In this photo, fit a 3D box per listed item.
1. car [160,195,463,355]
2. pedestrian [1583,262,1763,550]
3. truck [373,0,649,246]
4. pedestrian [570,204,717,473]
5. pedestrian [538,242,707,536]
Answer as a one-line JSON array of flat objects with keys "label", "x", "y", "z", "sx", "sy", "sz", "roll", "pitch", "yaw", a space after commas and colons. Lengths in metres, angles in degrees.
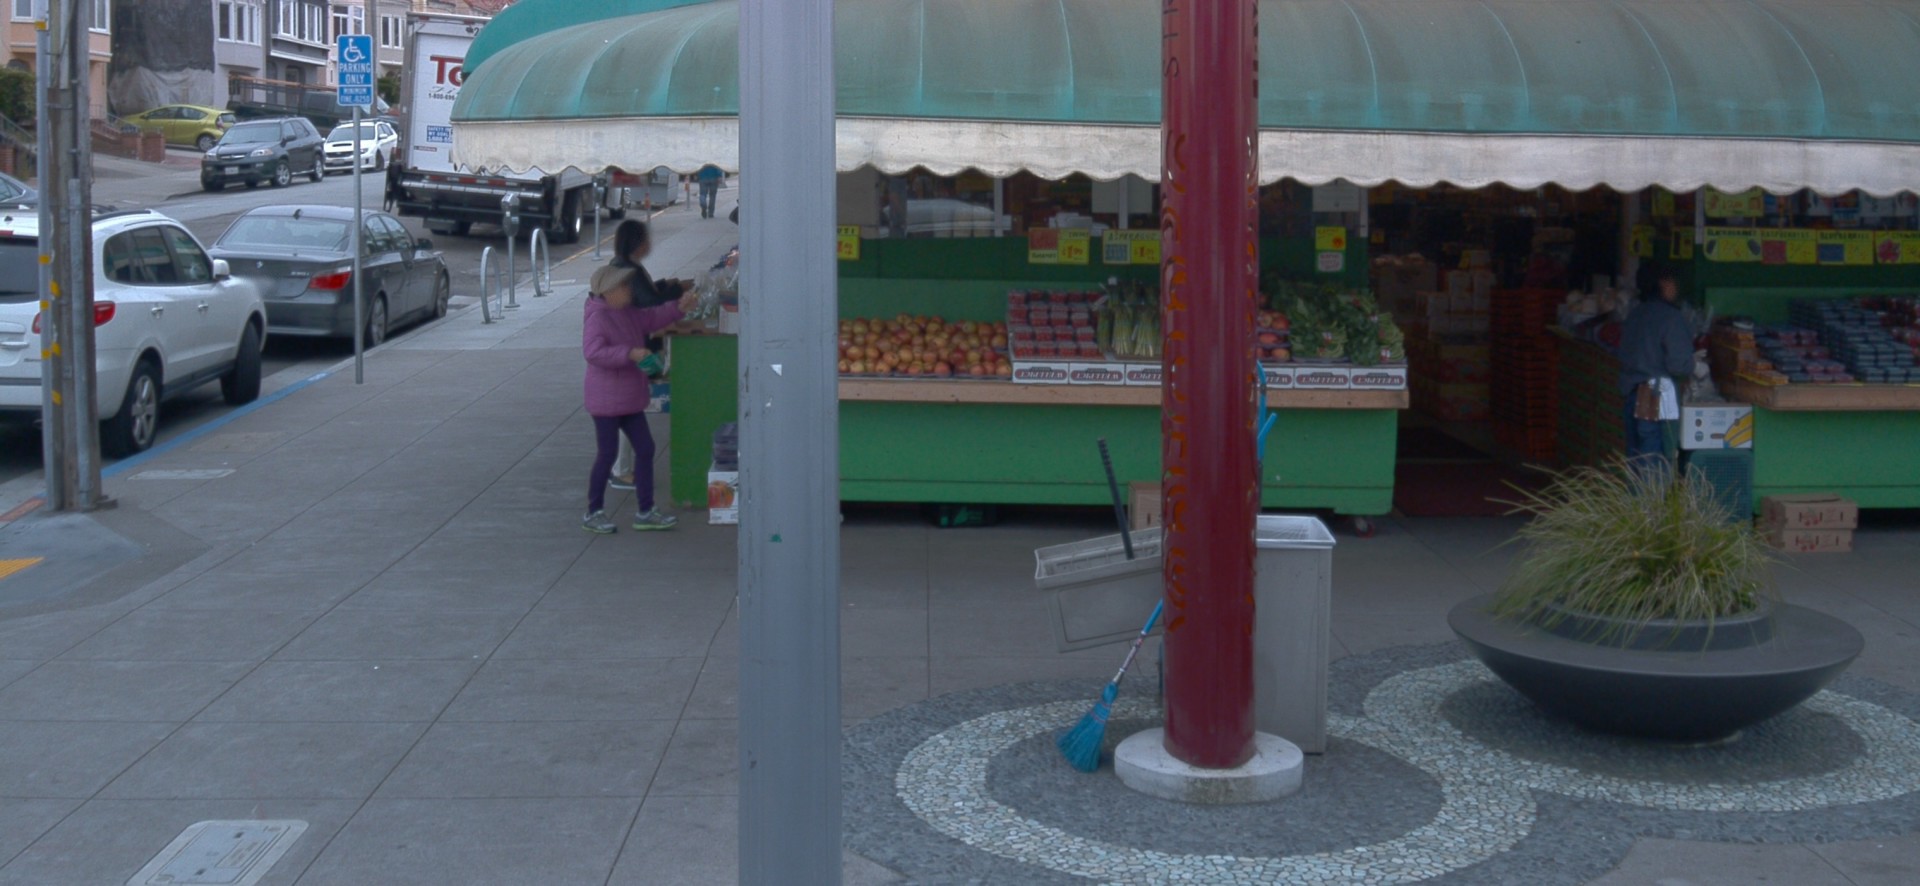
[{"label": "car", "x": -6.731, "y": -1.849, "z": 21.913, "sx": 1.969, "sy": 1.513, "sz": 4.609, "roll": 0, "pitch": 6, "yaw": -3}, {"label": "pedestrian", "x": 4.005, "y": -0.236, "z": 11.600, "sx": 0.743, "sy": 1.557, "sz": 0.755, "roll": 0, "pitch": 2, "yaw": 0}, {"label": "truck", "x": -7.695, "y": -5.477, "z": 36.847, "sx": 2.914, "sy": 3.770, "sz": 10.115, "roll": 0, "pitch": 5, "yaw": -1}, {"label": "pedestrian", "x": -1.976, "y": -0.675, "z": 12.790, "sx": 0.796, "sy": 1.607, "sz": 0.823, "roll": -1, "pitch": 2, "yaw": -17}, {"label": "pedestrian", "x": -1.851, "y": -0.324, "z": 11.382, "sx": 0.797, "sy": 1.564, "sz": 0.706, "roll": 0, "pitch": 2, "yaw": 2}]
